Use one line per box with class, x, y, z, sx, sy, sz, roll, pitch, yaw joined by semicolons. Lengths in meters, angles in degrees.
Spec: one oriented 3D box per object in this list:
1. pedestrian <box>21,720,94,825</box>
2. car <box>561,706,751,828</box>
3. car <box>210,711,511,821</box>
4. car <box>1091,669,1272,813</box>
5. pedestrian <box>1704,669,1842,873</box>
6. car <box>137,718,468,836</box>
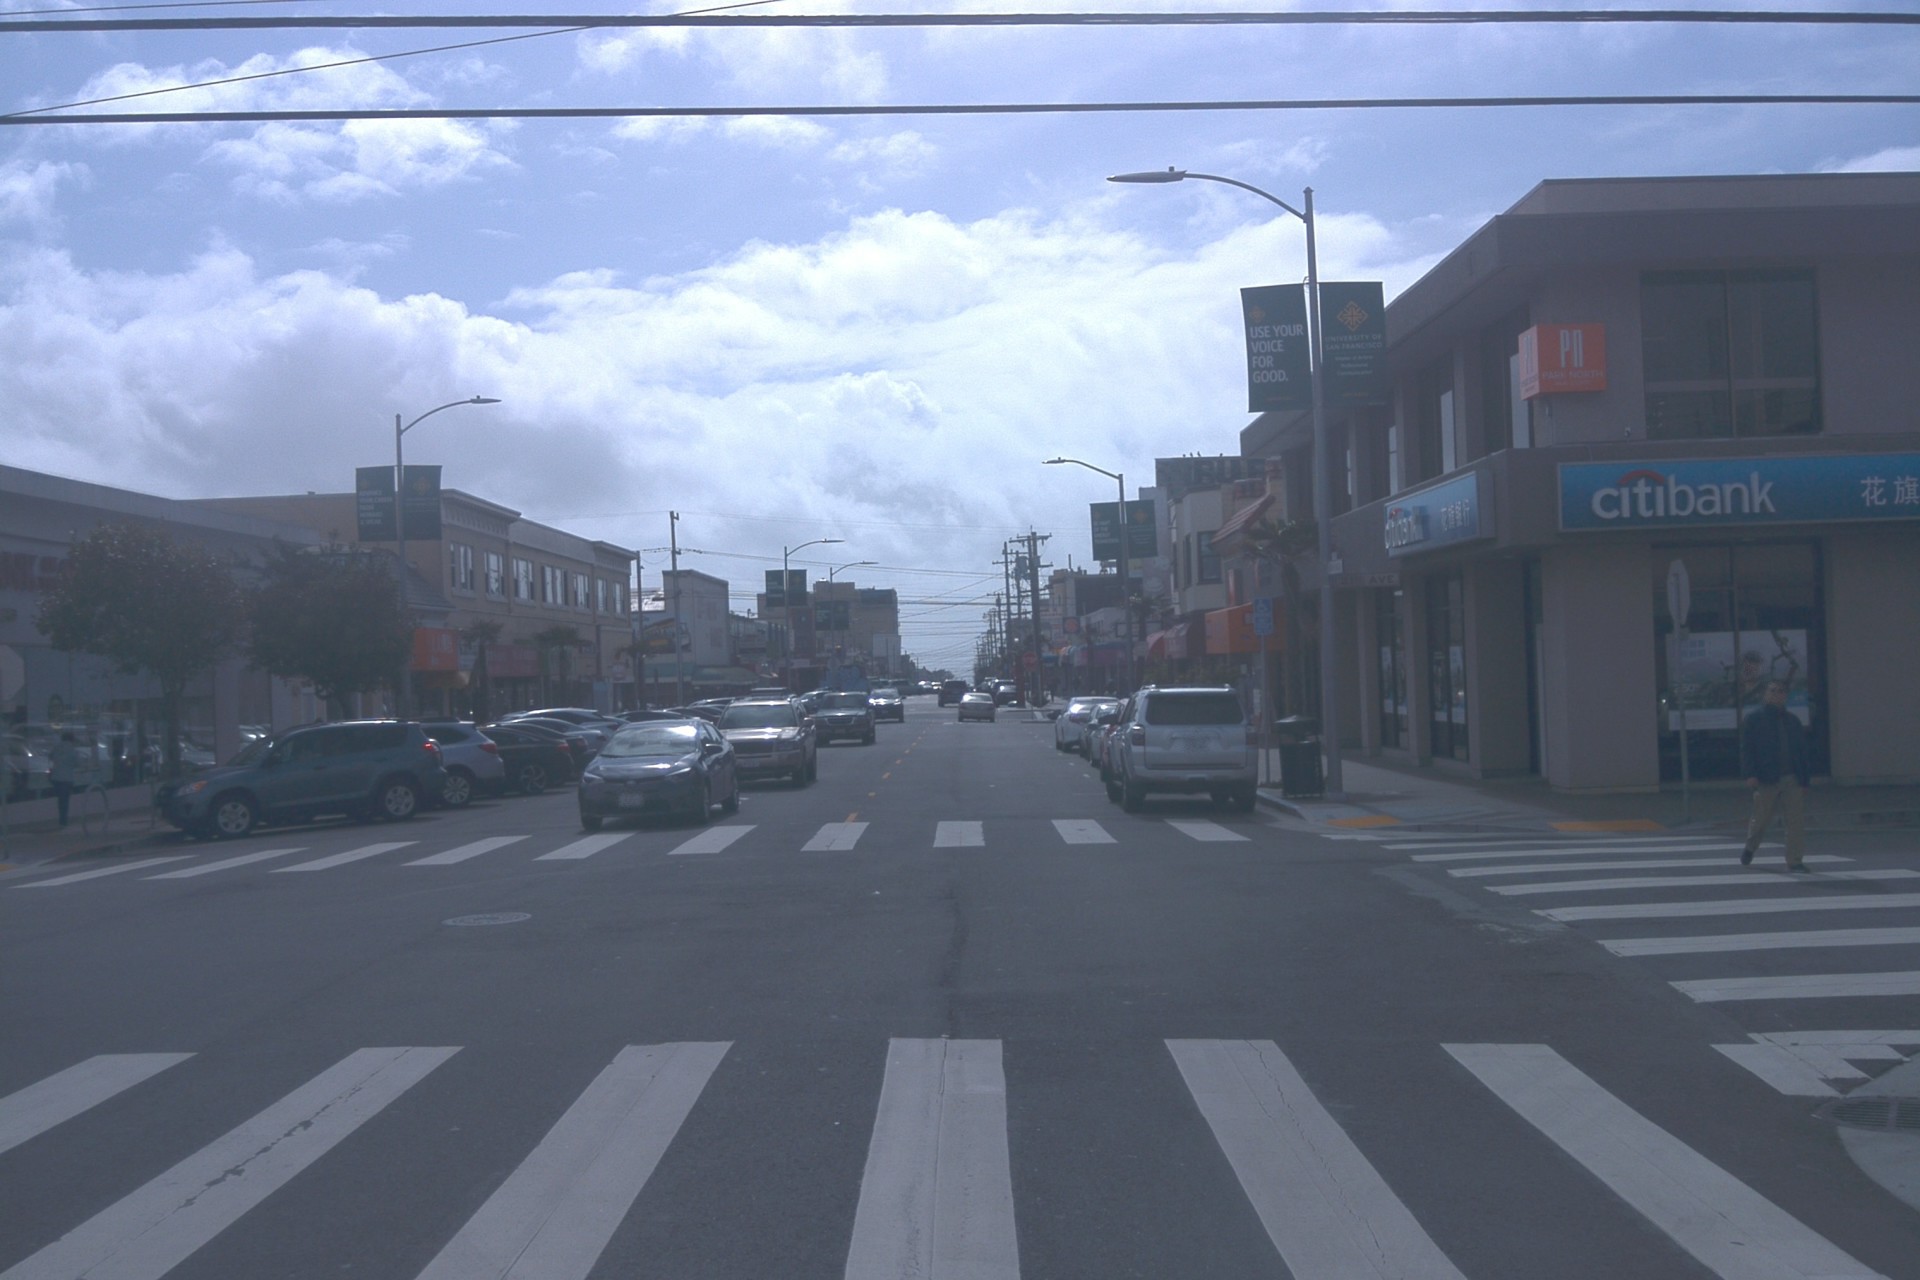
pedestrian;-14.633;2.140;33.640;0.791;1.643;0.931;0;-1;-1
car;-4.319;1.779;30.167;2.013;1.553;4.581;0;-1;1
car;-10.546;2.170;36.621;4.689;1.720;2.069;0;-1;-37
car;3.205;1.424;30.934;2.072;1.977;4.682;0;-1;-1
pedestrian;7.109;1.127;18.175;0.849;1.734;0.949;0;-1;2
car;-10.579;2.153;33.508;4.689;1.670;2.069;0;-1;-36
